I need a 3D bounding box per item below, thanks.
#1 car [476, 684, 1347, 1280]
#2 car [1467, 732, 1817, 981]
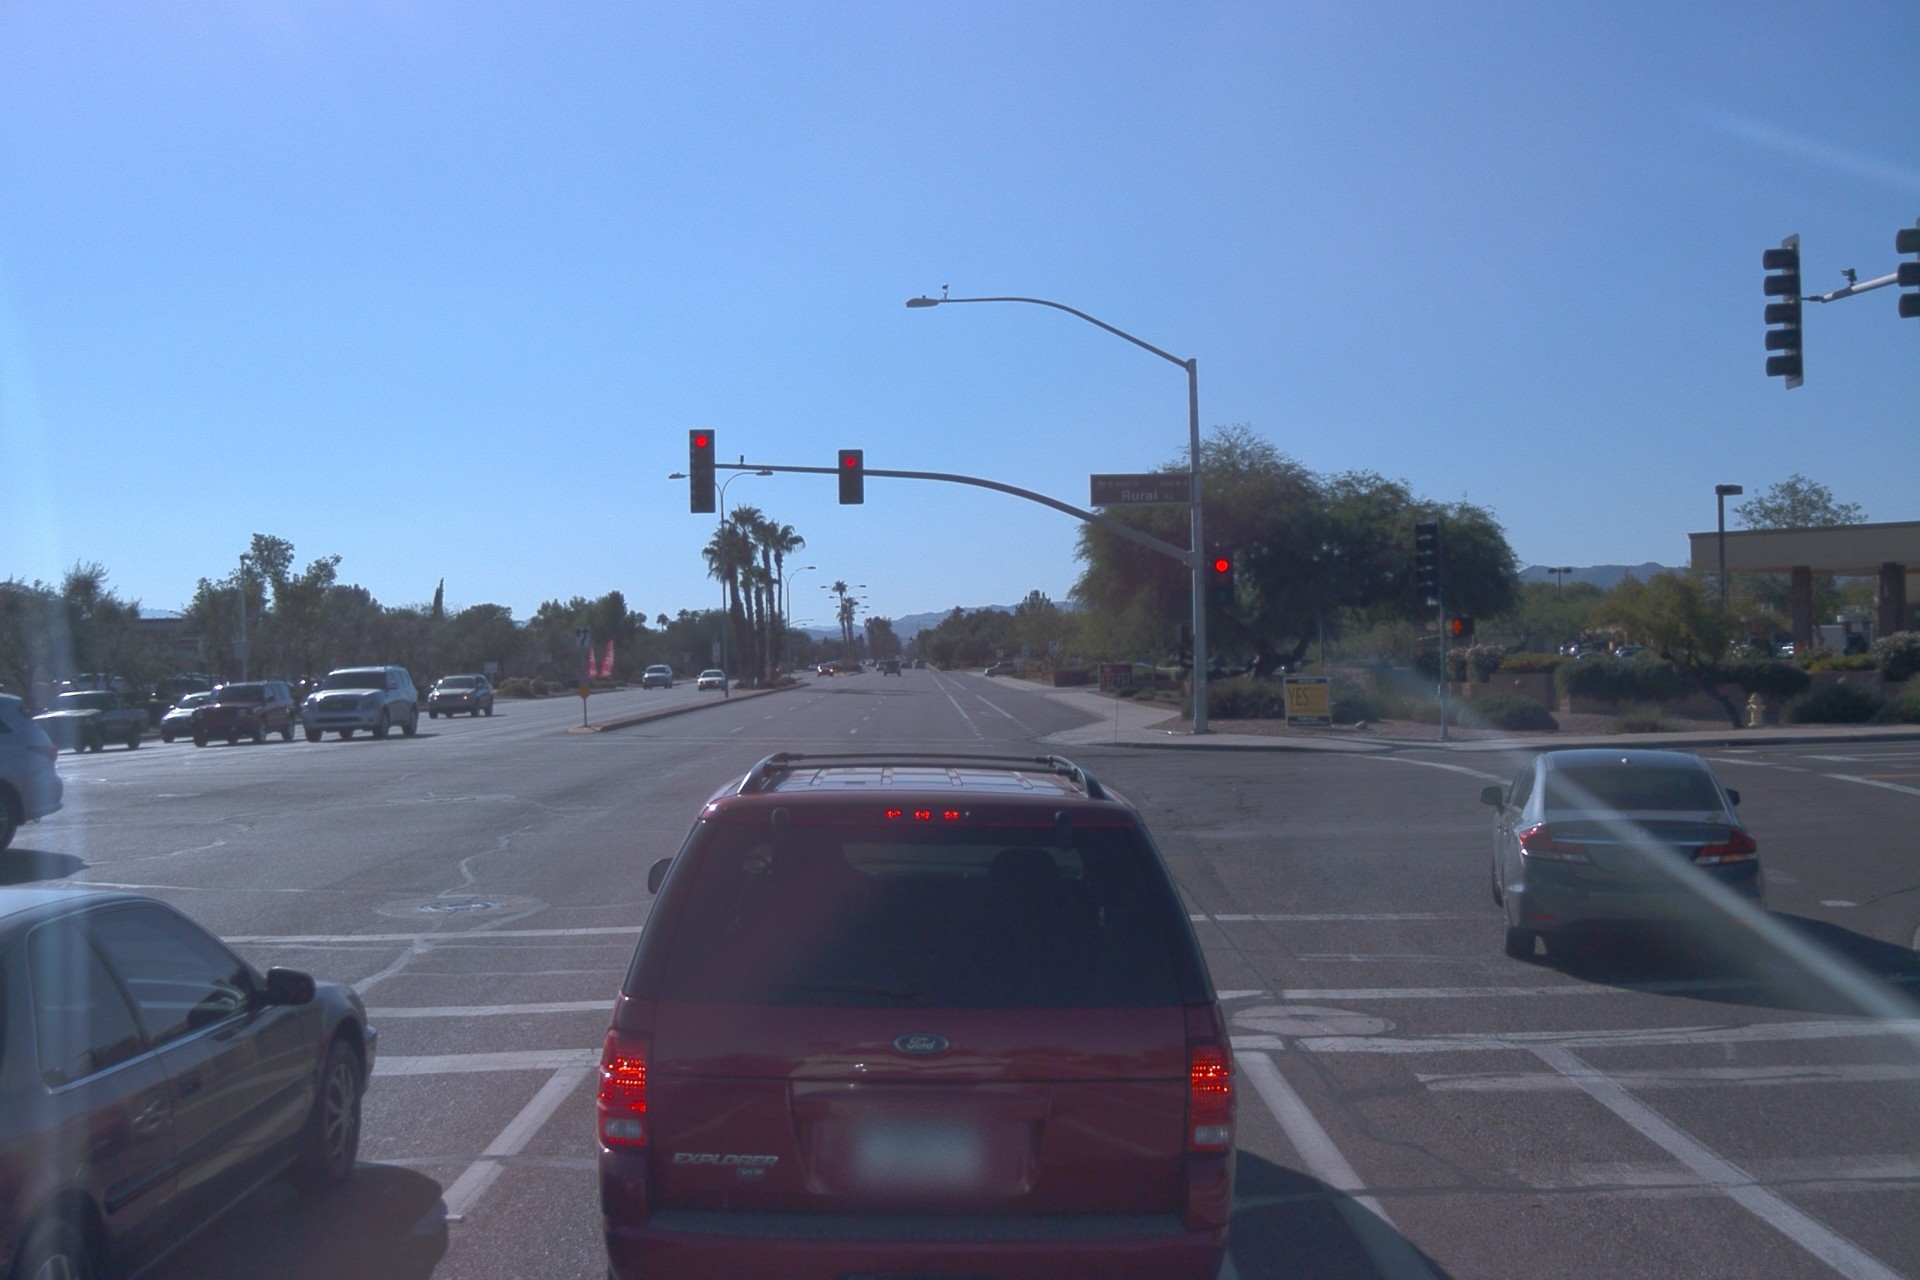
[{"bbox_3d":[-0.181,1.202,7.464,2.169,2.040,4.462,1,-1,-2],"label":"car"},{"bbox_3d":[5.040,1.520,16.007,1.989,1.470,4.503,0,-1,11],"label":"car"}]
